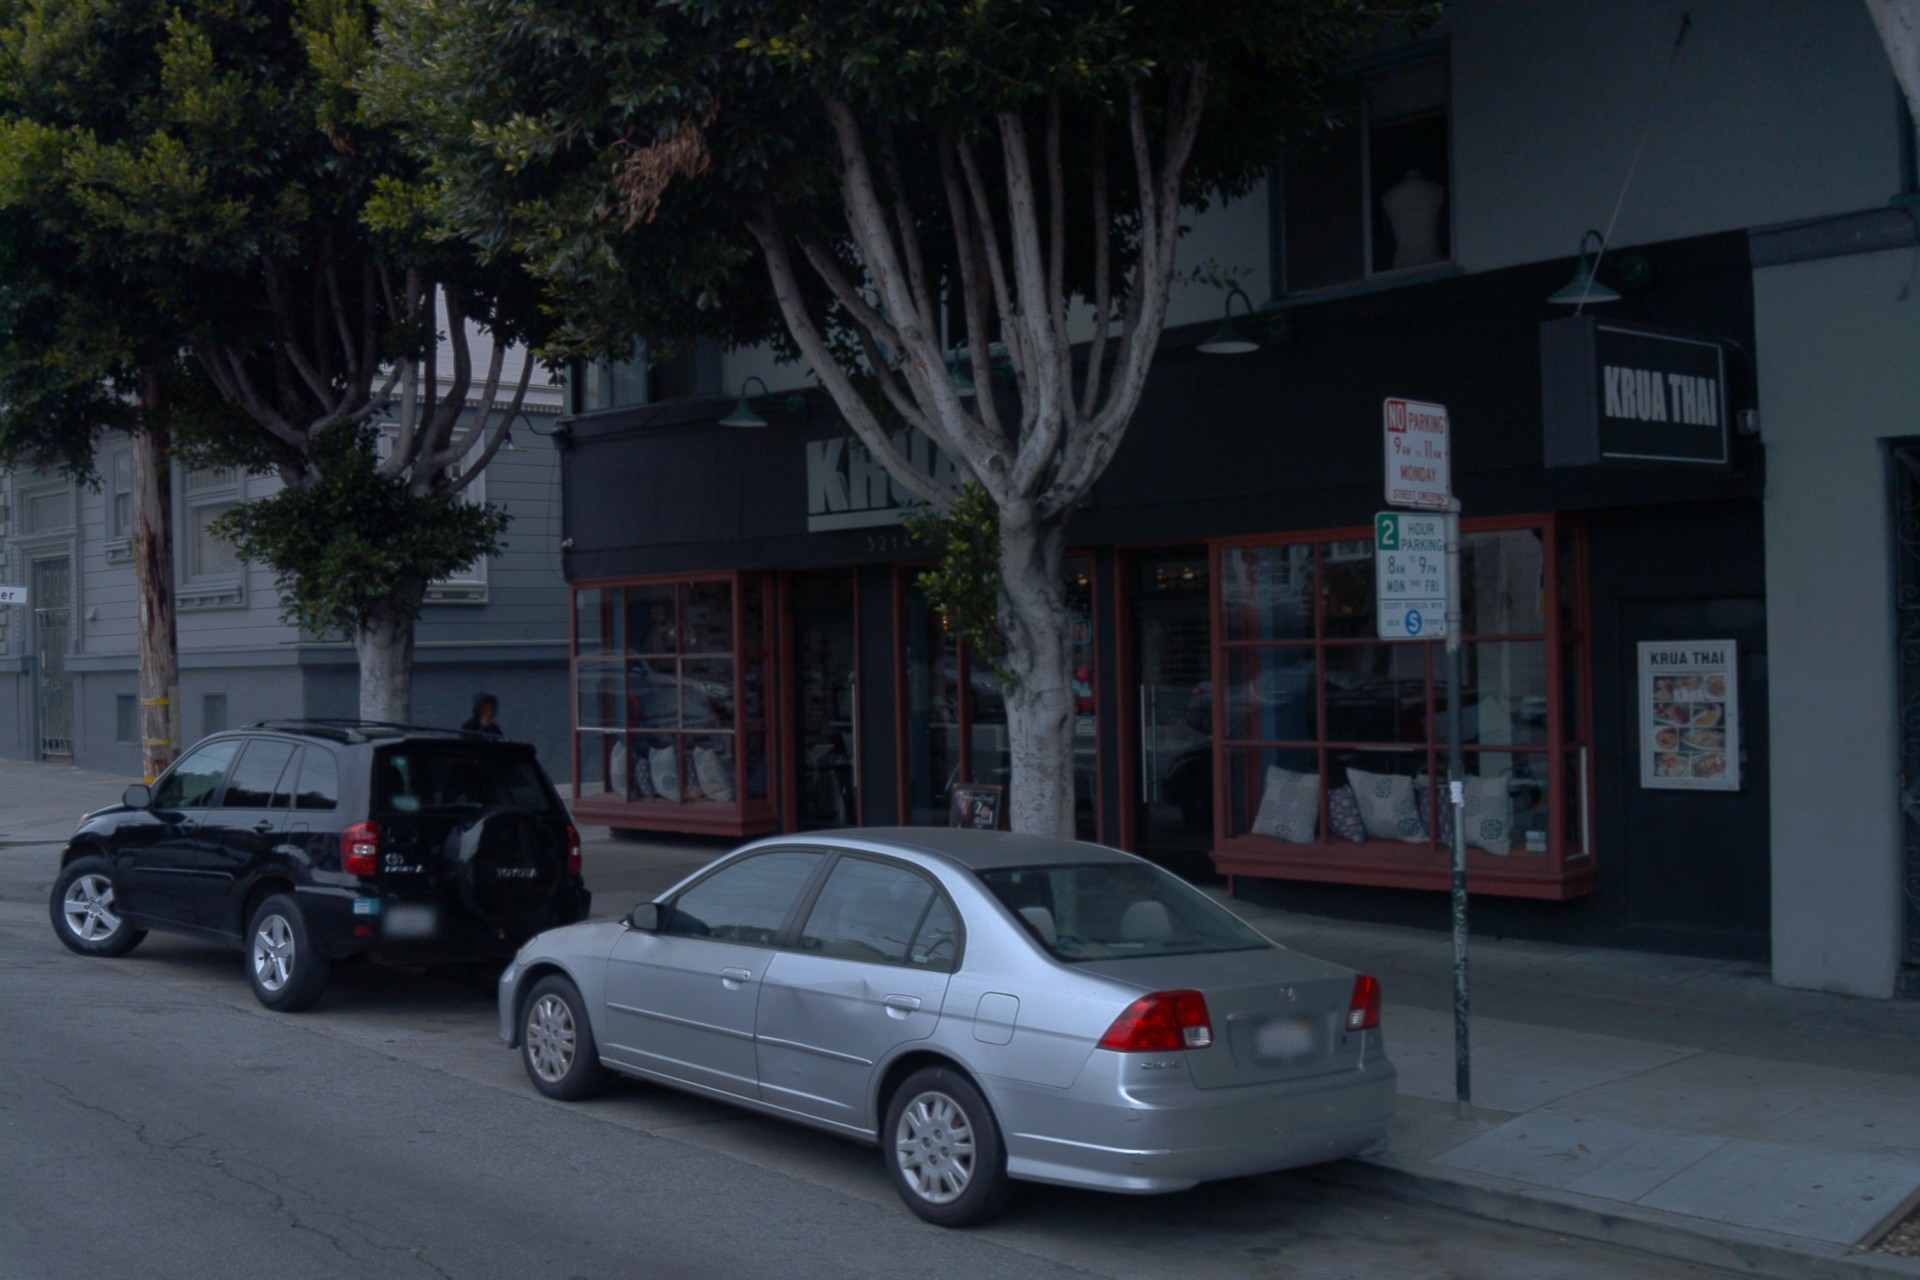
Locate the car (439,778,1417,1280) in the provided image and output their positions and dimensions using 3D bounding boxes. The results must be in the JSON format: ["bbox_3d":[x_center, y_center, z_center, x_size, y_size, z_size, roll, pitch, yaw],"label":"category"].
[{"bbox_3d":[-0.381,1.556,9.433,1.885,1.500,4.541,-1,1,-44],"label":"car"}]

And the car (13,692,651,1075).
[{"bbox_3d":[-4.145,1.353,13.240,4.392,1.890,1.992,0,1,43],"label":"car"}]

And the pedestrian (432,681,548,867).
[{"bbox_3d":[-4.328,1.211,19.013,0.774,1.630,0.716,1,1,40],"label":"pedestrian"}]
